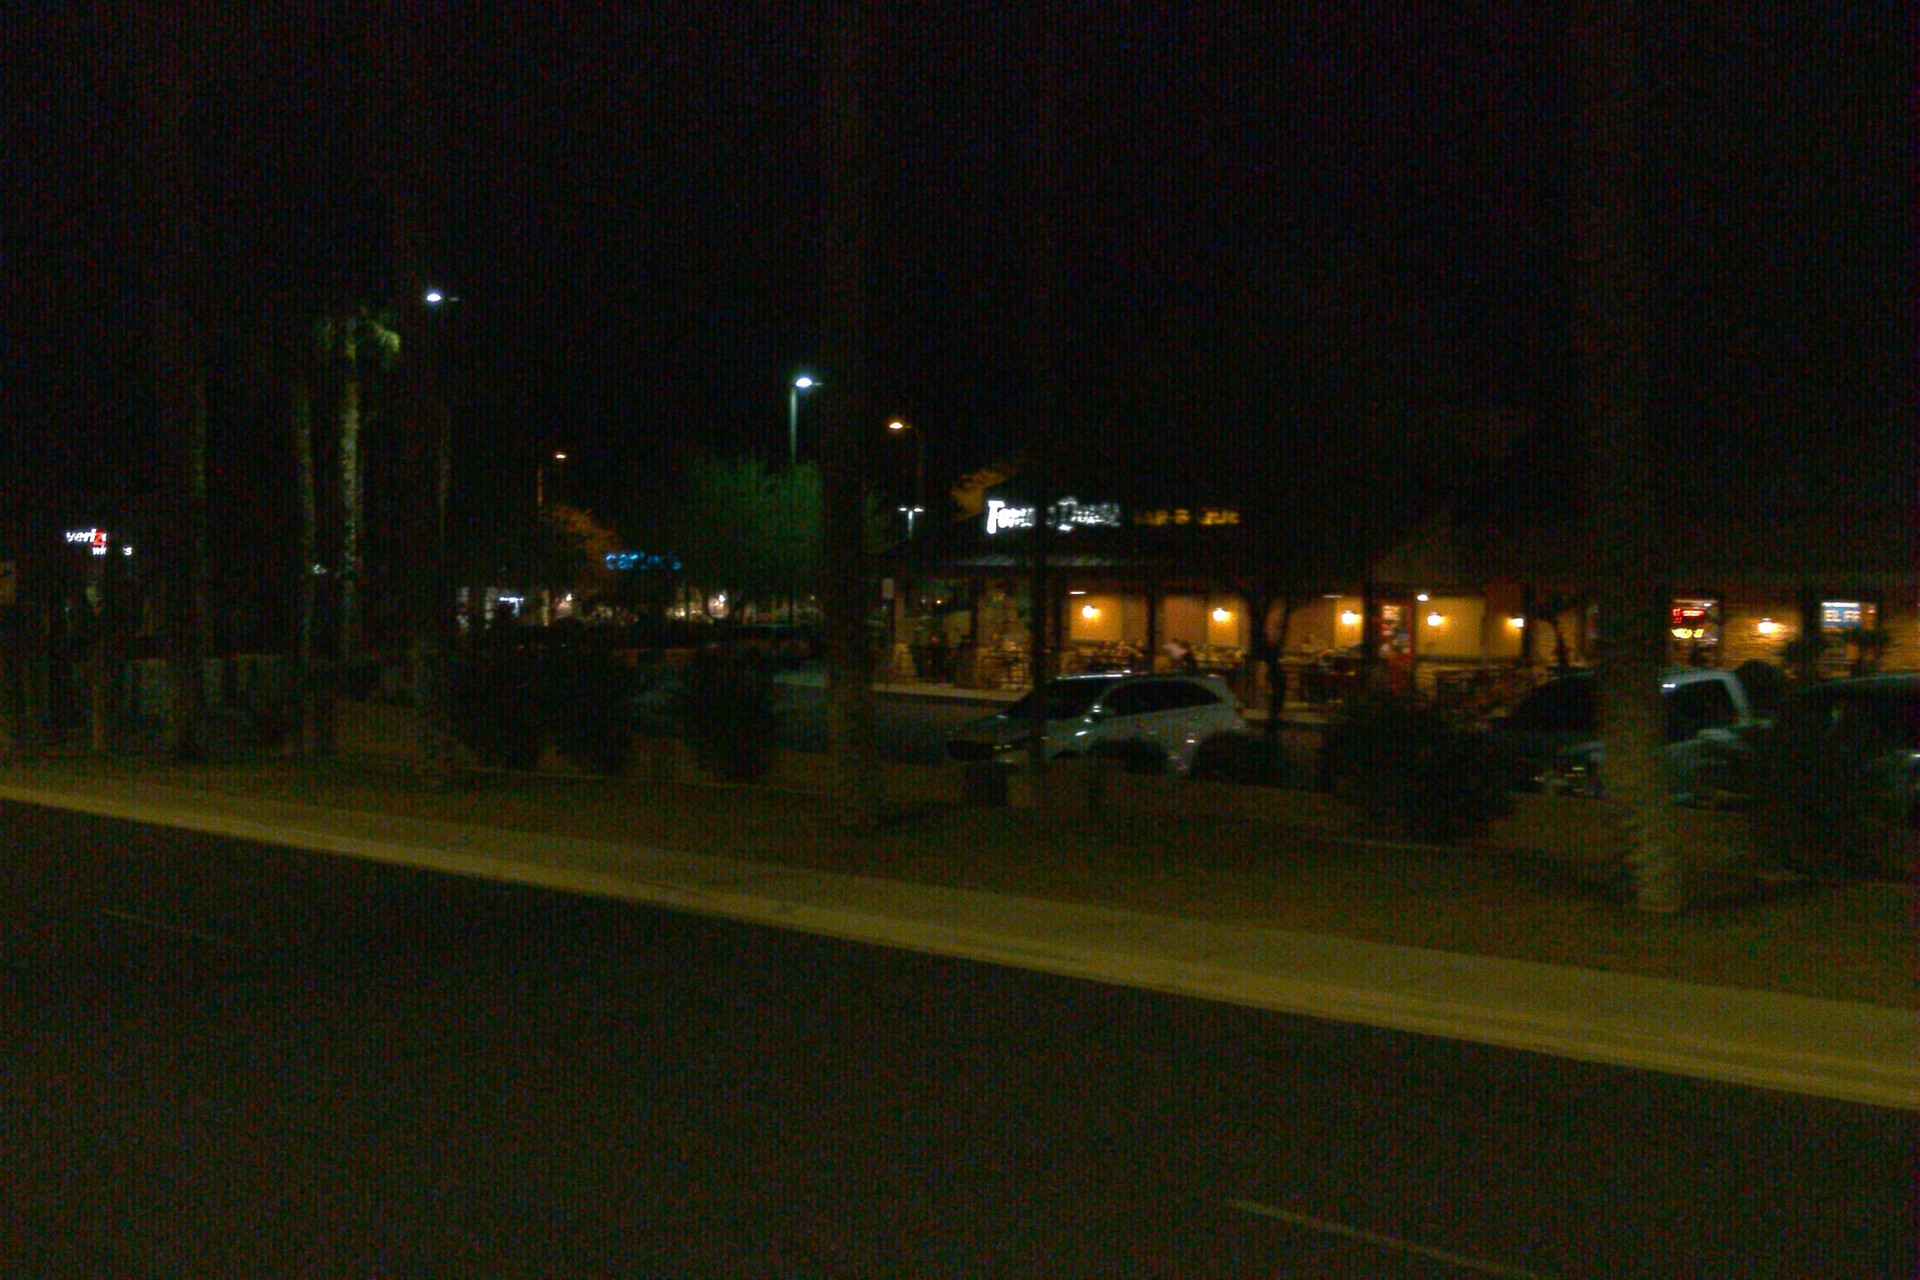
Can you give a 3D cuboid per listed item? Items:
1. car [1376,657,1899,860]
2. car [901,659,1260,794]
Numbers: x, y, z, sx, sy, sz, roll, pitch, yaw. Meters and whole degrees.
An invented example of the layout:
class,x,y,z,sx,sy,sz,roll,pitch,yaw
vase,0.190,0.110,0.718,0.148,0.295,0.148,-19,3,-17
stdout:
class,x,y,z,sx,sy,sz,roll,pitch,yaw
car,7.314,1.121,22.057,5.975,1.820,2.533,0,0,-41
car,1.701,1.102,28.248,4.688,1.640,2.150,0,0,-41
